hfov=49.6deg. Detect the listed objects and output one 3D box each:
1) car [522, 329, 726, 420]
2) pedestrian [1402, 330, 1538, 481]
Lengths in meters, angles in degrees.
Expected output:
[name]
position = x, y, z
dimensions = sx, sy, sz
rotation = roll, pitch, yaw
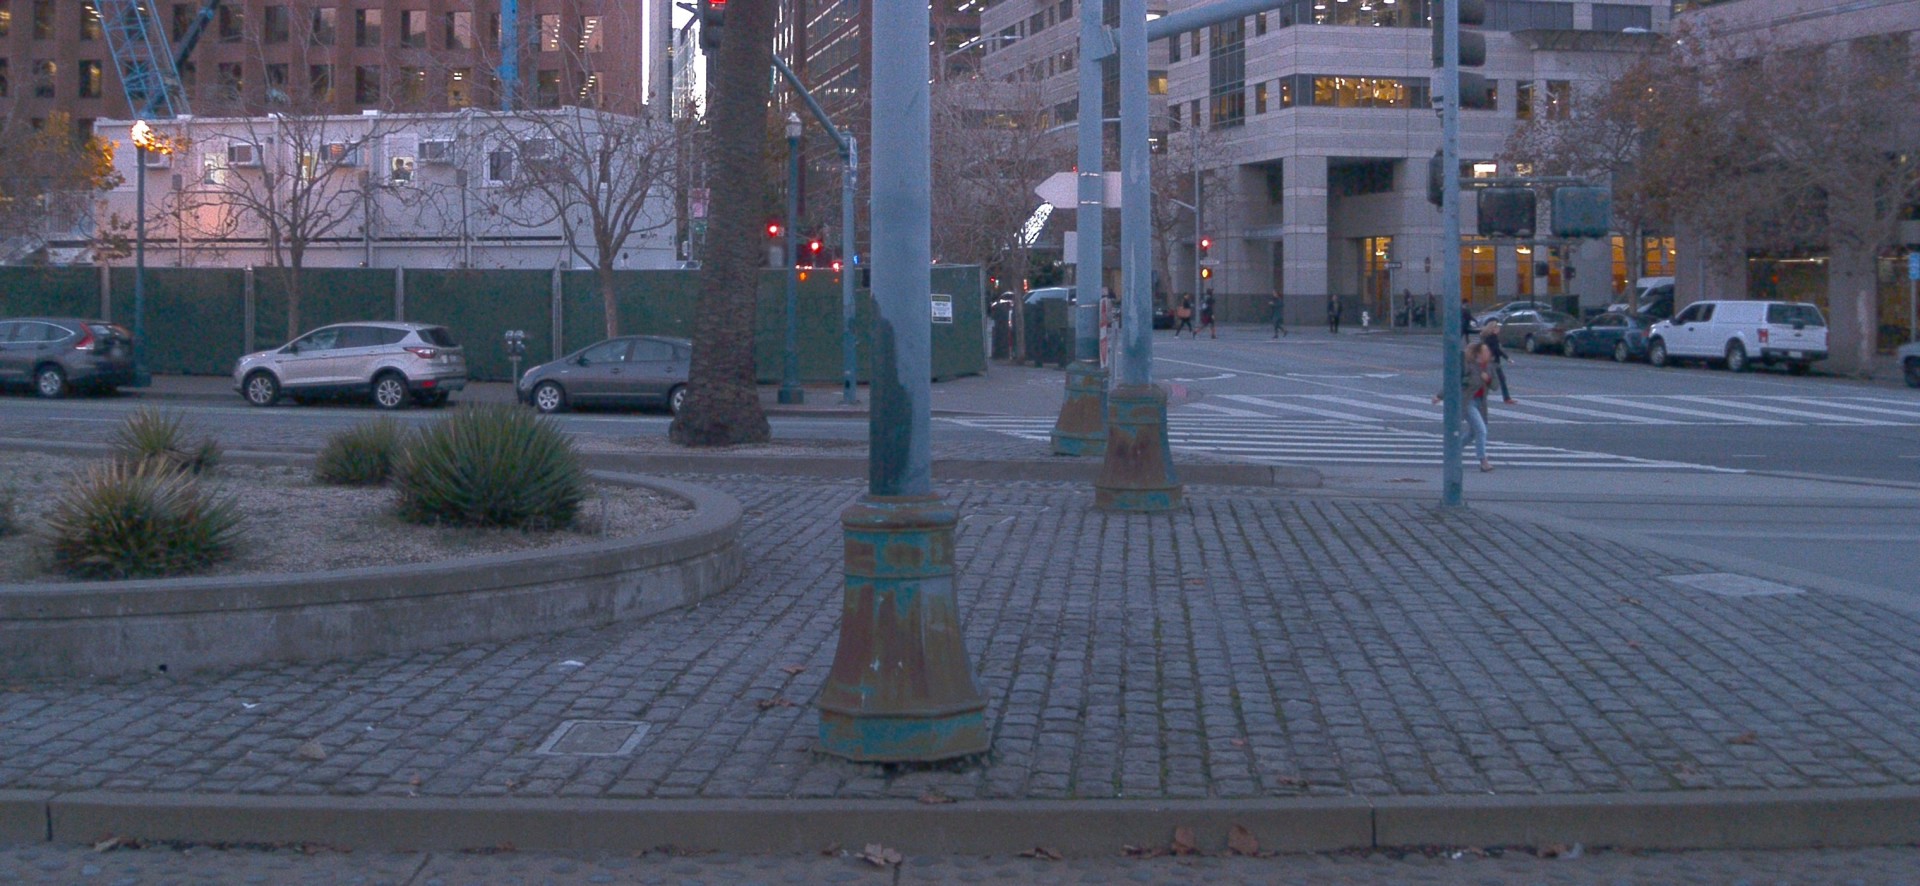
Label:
[car]
position = -6.209, -1.294, 38.464
dimensions = 3.390, 1.486, 1.558
rotation = 2, 4, 17
[pedestrian]
position = 6.093, -0.472, 24.836
dimensions = 1.055, 1.677, 1.162
rotation = -1, 3, -26
